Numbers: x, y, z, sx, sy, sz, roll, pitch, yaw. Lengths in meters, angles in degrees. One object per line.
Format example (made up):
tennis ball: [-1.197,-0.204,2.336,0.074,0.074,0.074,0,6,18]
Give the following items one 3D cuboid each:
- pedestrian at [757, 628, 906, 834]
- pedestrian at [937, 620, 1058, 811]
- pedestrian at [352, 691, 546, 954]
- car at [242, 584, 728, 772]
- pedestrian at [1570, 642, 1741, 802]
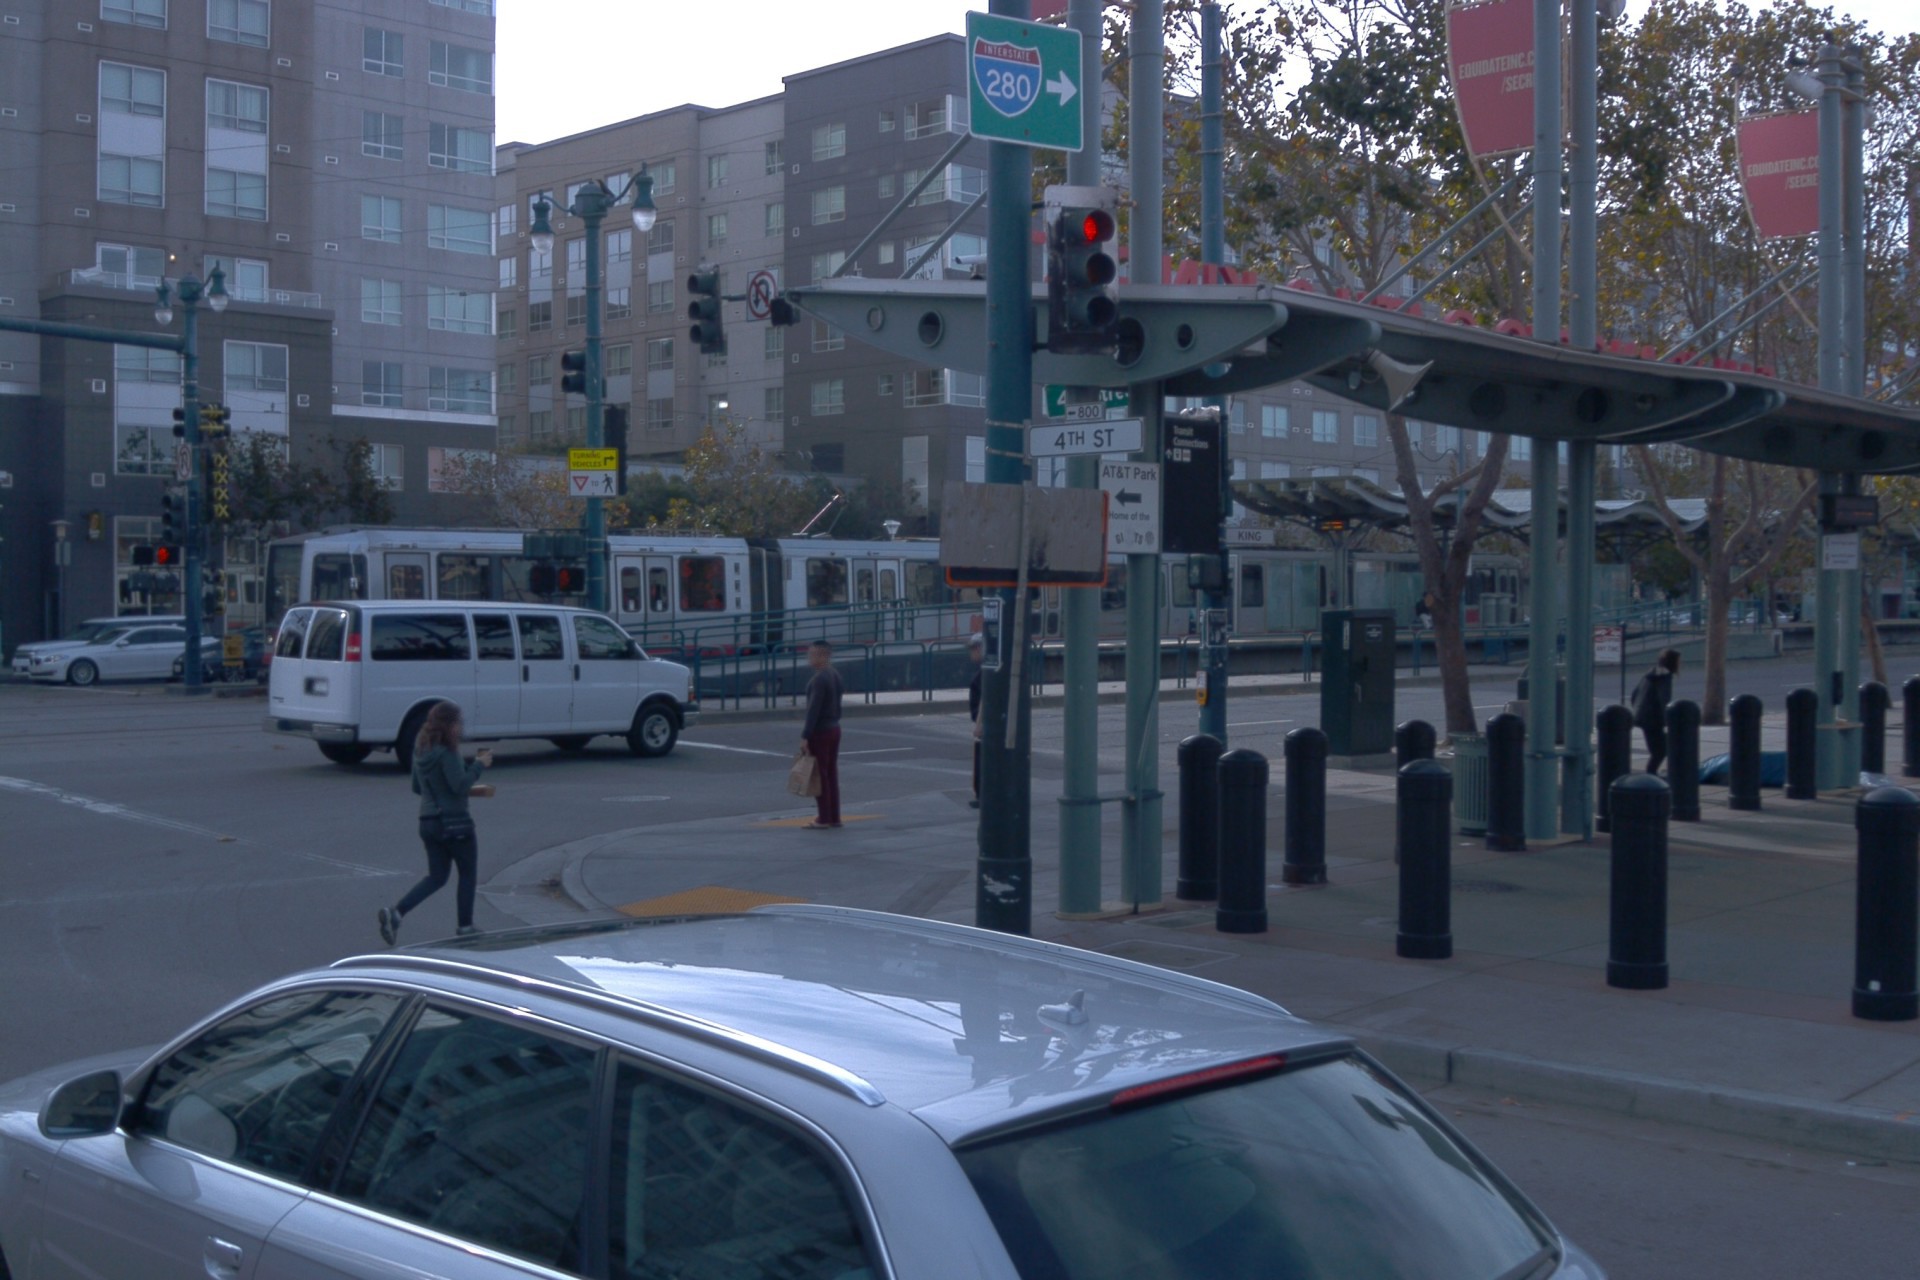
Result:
pedestrian: [-1.180,0.809,19.047,0.980,1.819,0.928,1,0,33]
pedestrian: [0.381,0.737,20.828,0.867,1.858,0.865,1,0,31]
pedestrian: [-3.368,1.166,13.667,0.678,1.642,1.016,1,0,45]
car: [-6.097,0.461,27.212,2.569,2.200,5.753,1,0,42]
pedestrian: [7.284,0.832,21.710,1.218,1.605,1.168,1,0,-34]
